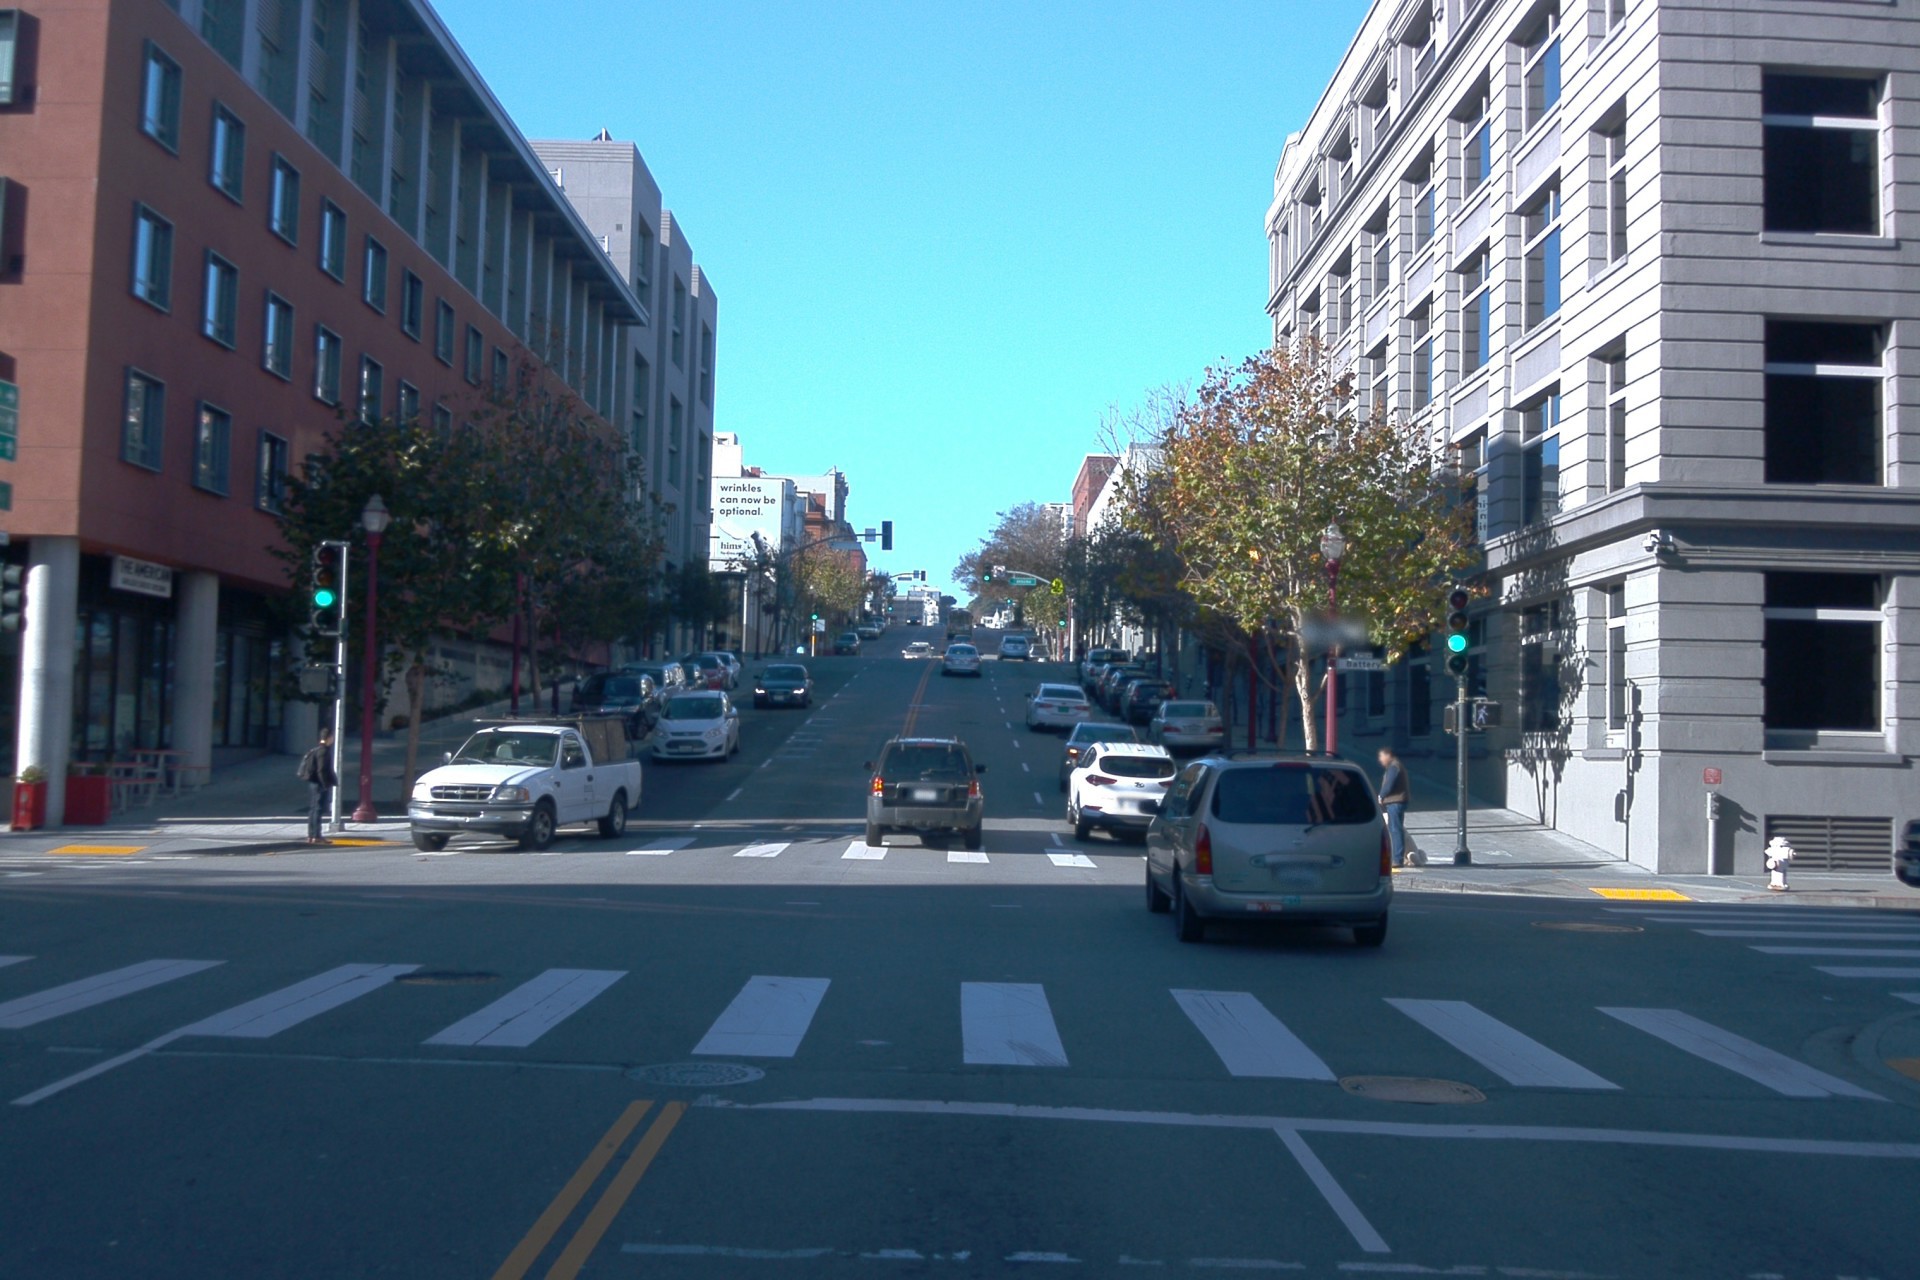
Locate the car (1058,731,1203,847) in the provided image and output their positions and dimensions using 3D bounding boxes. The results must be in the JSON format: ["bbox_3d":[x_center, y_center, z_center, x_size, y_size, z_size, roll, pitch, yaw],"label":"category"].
[{"bbox_3d":[2.926,2.563,36.693,2.088,1.800,4.683,1,-2,-1],"label":"car"}]

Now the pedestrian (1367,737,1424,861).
[{"bbox_3d":[6.802,2.478,32.534,0.787,1.880,0.765,1,-1,6],"label":"pedestrian"}]

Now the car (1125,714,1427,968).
[{"bbox_3d":[2.853,1.780,19.916,2.113,2.070,4.763,1,-2,0],"label":"car"}]

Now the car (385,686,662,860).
[{"bbox_3d":[-6.565,1.954,32.021,2.146,2.400,5.279,1,-2,12],"label":"car"}]

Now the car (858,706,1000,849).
[{"bbox_3d":[-0.487,2.144,33.565,2.096,2.100,4.545,1,-2,-1],"label":"car"}]

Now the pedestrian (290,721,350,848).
[{"bbox_3d":[-9.611,2.167,31.273,0.707,1.870,0.731,1,-1,-8],"label":"pedestrian"}]
